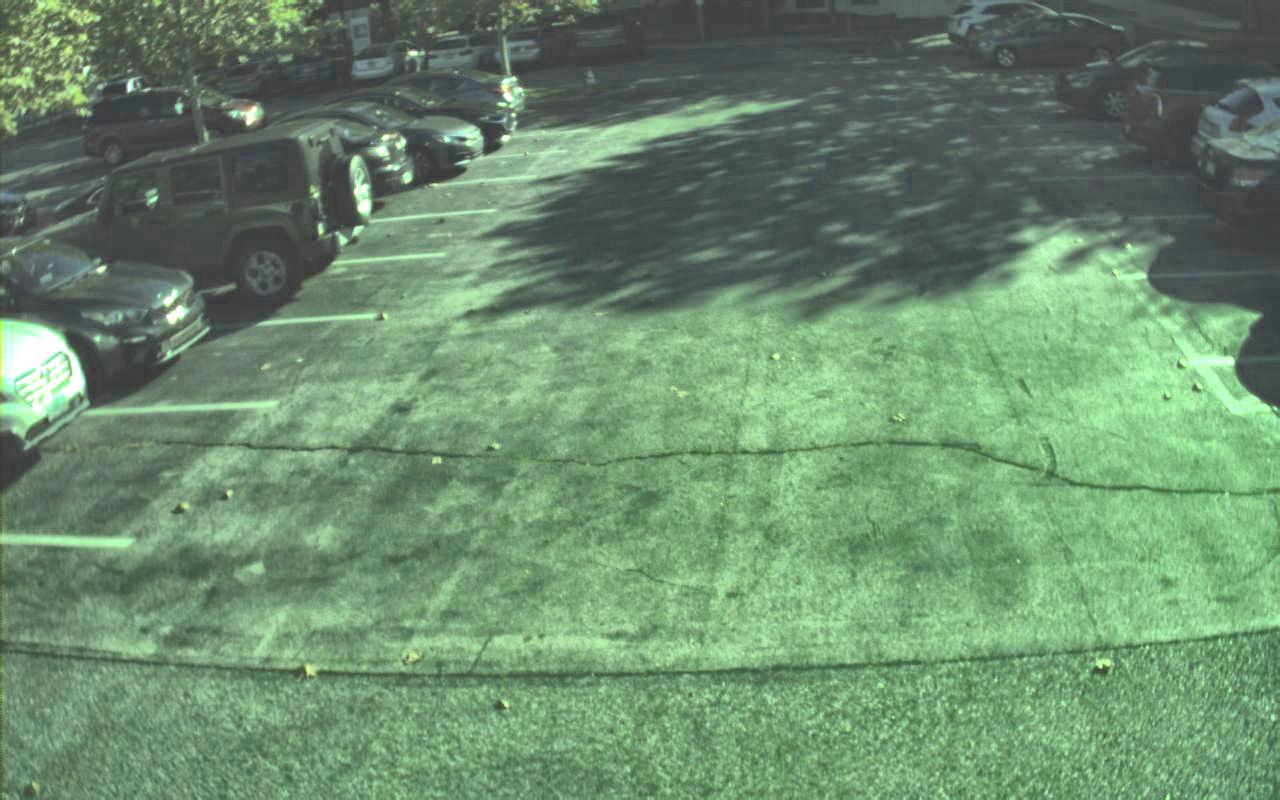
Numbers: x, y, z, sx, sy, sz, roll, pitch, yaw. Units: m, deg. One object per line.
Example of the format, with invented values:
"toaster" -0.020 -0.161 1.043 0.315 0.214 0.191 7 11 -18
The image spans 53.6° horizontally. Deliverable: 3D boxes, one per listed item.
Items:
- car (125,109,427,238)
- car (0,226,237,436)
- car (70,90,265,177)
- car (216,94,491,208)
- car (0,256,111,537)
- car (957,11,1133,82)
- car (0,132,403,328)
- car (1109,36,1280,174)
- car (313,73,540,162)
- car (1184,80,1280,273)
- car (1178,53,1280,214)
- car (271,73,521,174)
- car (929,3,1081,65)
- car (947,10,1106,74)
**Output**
"car" -5.685 -3.496 18.663 4.374 1.628 1.975 2 16 10
"car" -6.354 -0.716 11.315 4.327 1.535 1.923 1 16 7
"car" -12.067 -6.704 29.543 4.798 1.708 2.039 1 16 7
"car" -4.952 -4.318 21.097 4.423 1.612 1.956 1 16 6
"car" -6.899 -0.122 8.987 4.554 1.664 1.992 2 16 9
"car" 10.797 -9.421 31.437 4.595 1.620 1.981 1 16 7
"car" -5.245 -1.964 13.812 4.626 1.844 2.025 1 16 6
"car" 9.245 -4.401 16.600 4.472 1.635 1.968 2 16 10
"car" -4.522 -5.959 25.923 4.386 1.614 1.980 3 17 12
"car" 8.112 -2.425 11.620 4.391 1.590 1.960 3 17 13
"car" 9.143 -3.439 13.964 4.347 1.626 1.948 2 17 11
"car" -4.631 -5.268 23.255 4.394 1.604 1.955 1 16 7
"car" 11.137 -11.156 36.217 4.467 1.660 1.975 0 16 4
"car" 11.048 -10.204 33.738 4.366 1.597 1.943 0 16 3
